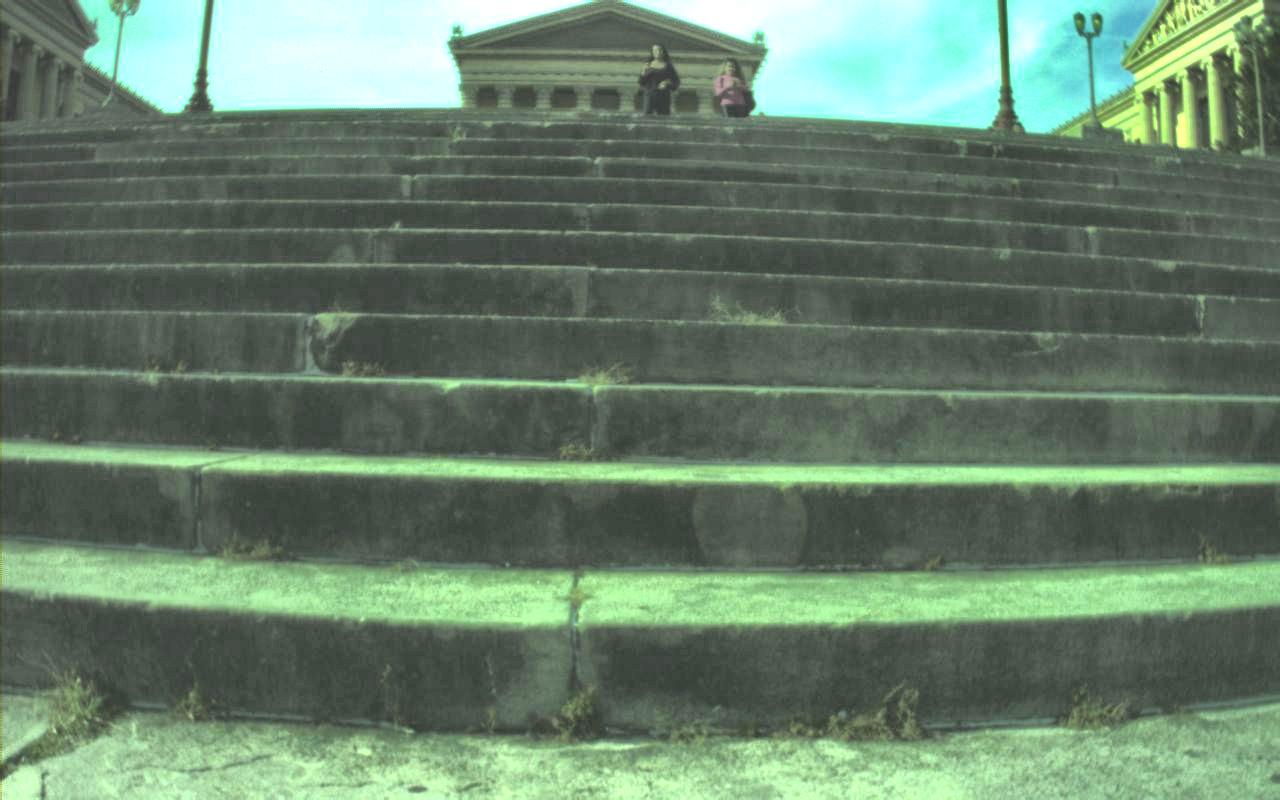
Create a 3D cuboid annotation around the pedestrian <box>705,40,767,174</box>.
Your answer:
[{"bbox_3d":[1.332,-4.103,17.432,0.778,1.769,0.771,0,0,-3],"label":"pedestrian"}]

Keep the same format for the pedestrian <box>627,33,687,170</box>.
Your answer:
[{"bbox_3d":[0.252,-4.278,17.871,0.815,1.880,0.804,0,0,4],"label":"pedestrian"}]
